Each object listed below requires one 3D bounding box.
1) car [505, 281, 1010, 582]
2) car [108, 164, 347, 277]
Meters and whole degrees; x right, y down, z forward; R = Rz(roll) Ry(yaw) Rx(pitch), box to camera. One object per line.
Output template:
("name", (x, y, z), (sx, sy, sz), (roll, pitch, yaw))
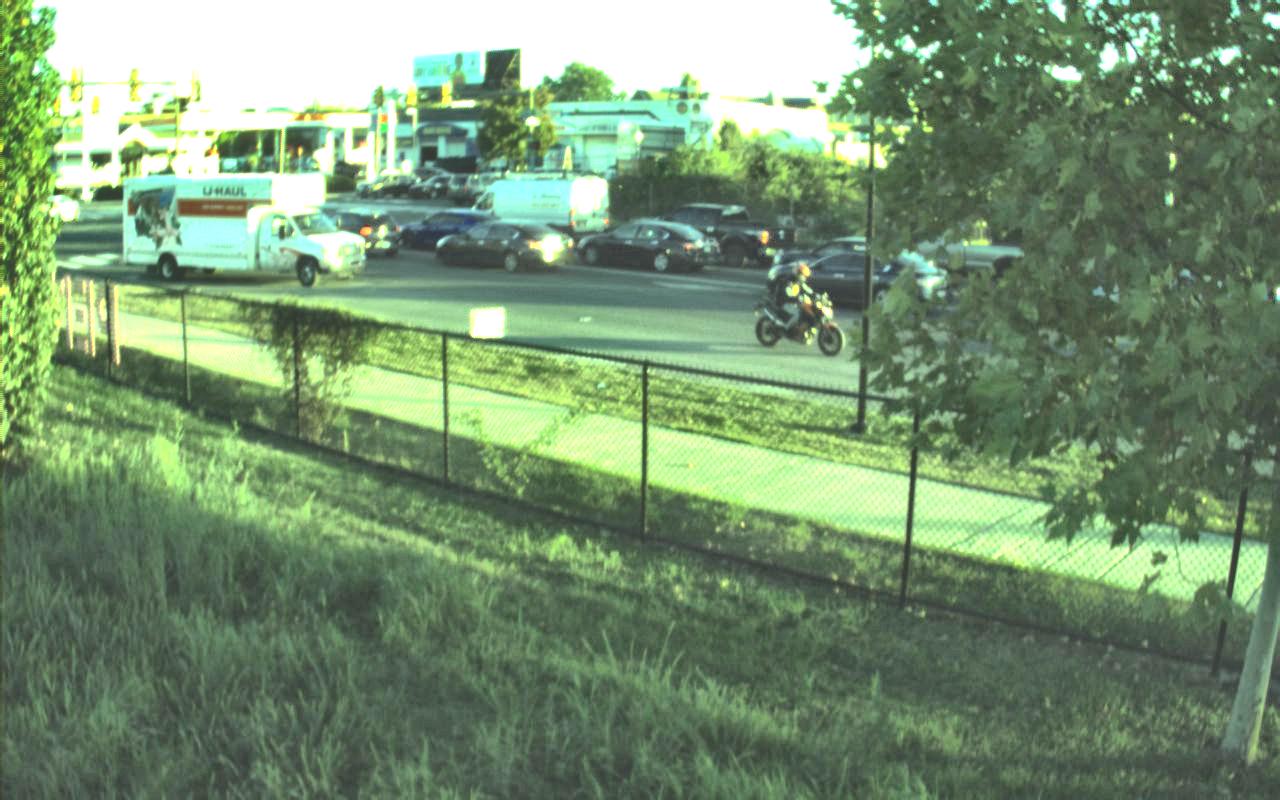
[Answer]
("car", (1.044, 0.089, 12.396), (4.693, 1.681, 2.067), (13, 21, 40))
("car", (-12.147, -5.232, 34.794), (6.935, 2.742, 2.703), (4, 16, 18))
